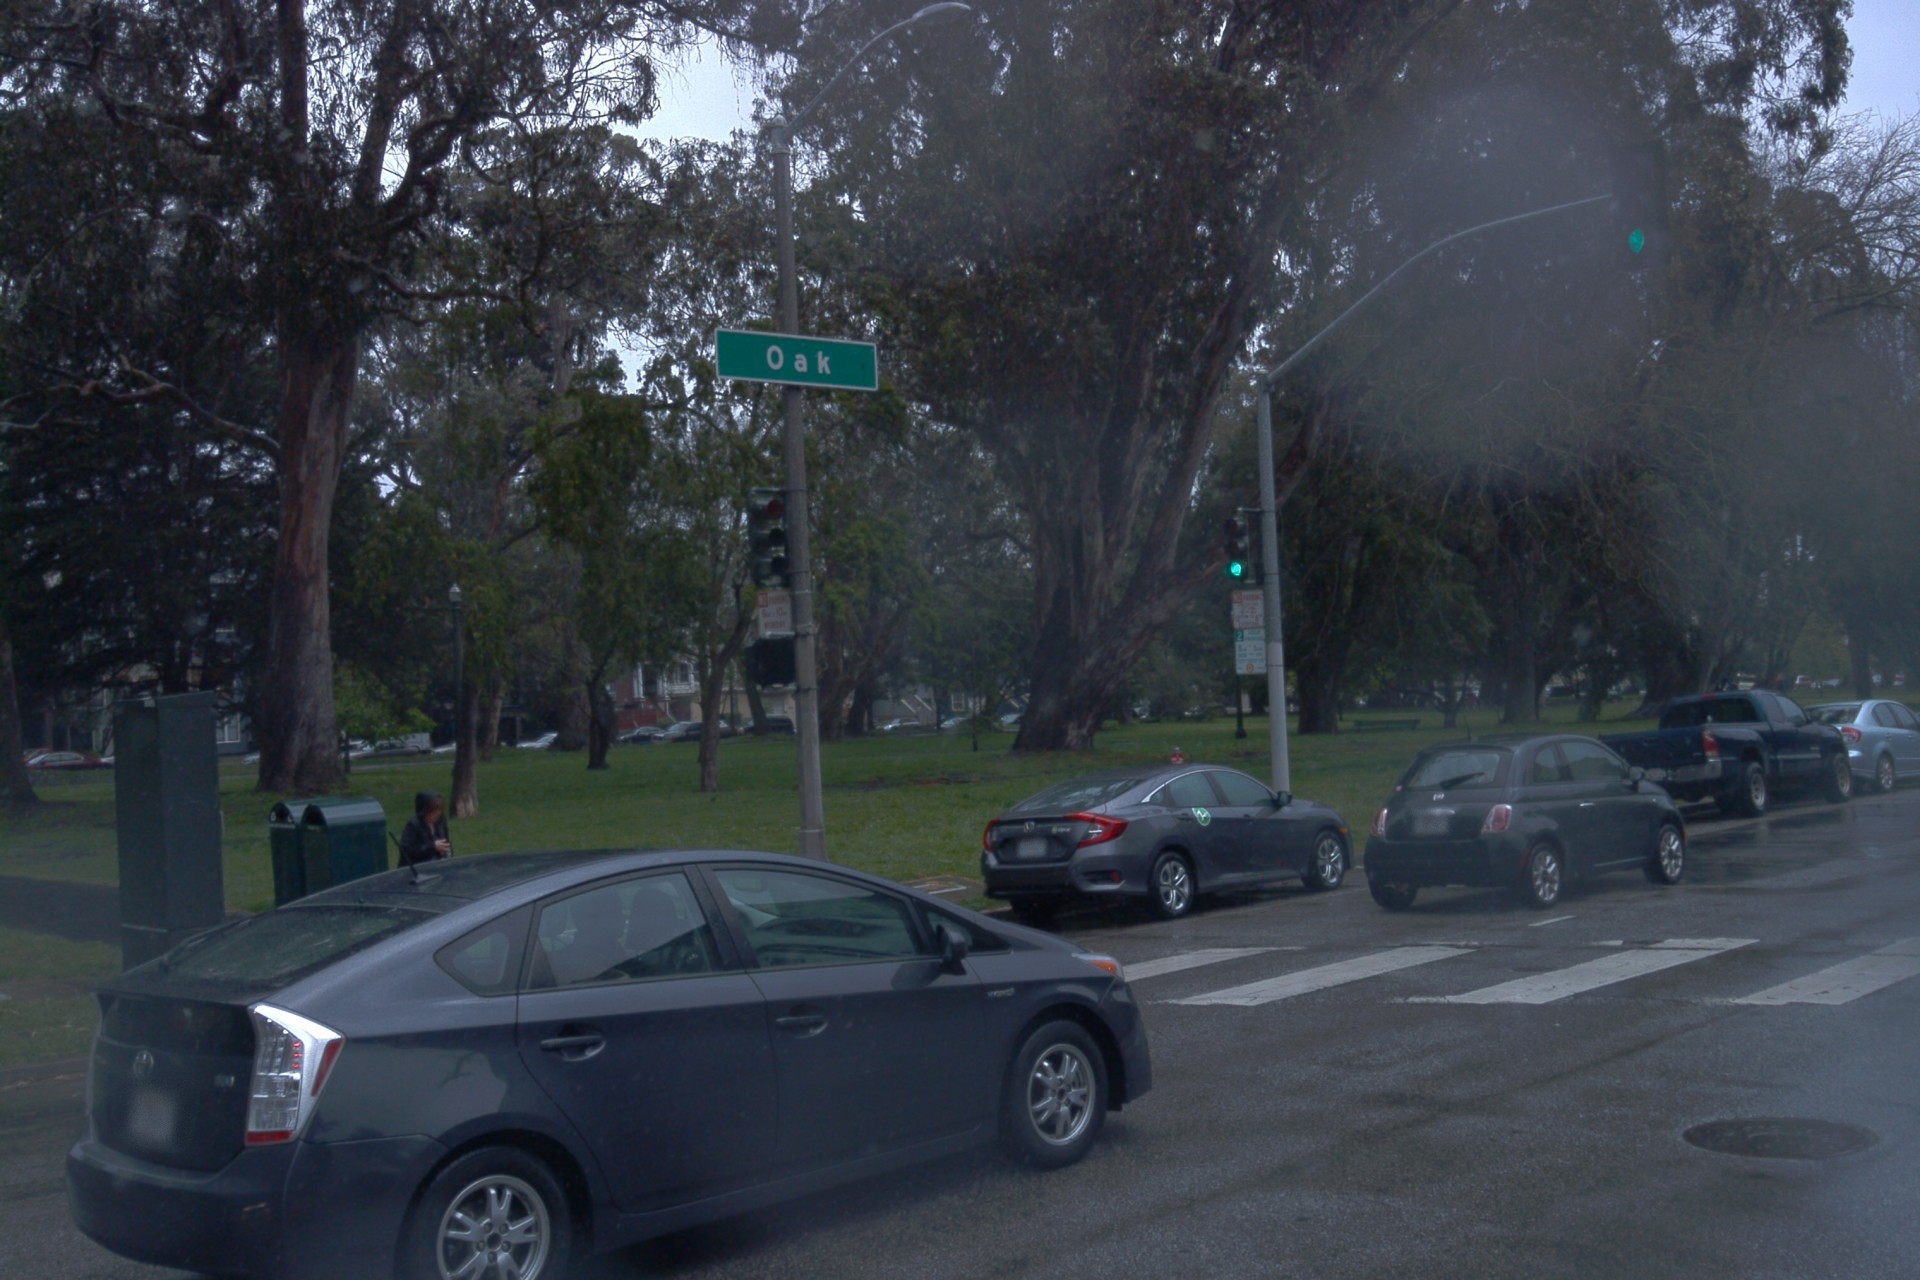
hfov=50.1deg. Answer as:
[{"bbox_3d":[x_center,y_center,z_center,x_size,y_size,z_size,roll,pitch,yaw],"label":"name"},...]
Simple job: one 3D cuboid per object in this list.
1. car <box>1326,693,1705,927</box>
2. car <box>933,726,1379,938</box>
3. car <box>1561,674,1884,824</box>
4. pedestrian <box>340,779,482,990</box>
[{"bbox_3d":[5.058,1.422,18.459,1.794,1.715,3.581,1,2,44],"label":"car"},{"bbox_3d":[2.024,1.759,20.076,2.031,1.540,4.554,1,2,42],"label":"car"},{"bbox_3d":[11.056,1.460,29.516,2.407,1.750,5.463,1,2,43],"label":"car"},{"bbox_3d":[-4.442,1.955,16.626,0.722,1.560,0.835,1,2,37],"label":"pedestrian"}]
